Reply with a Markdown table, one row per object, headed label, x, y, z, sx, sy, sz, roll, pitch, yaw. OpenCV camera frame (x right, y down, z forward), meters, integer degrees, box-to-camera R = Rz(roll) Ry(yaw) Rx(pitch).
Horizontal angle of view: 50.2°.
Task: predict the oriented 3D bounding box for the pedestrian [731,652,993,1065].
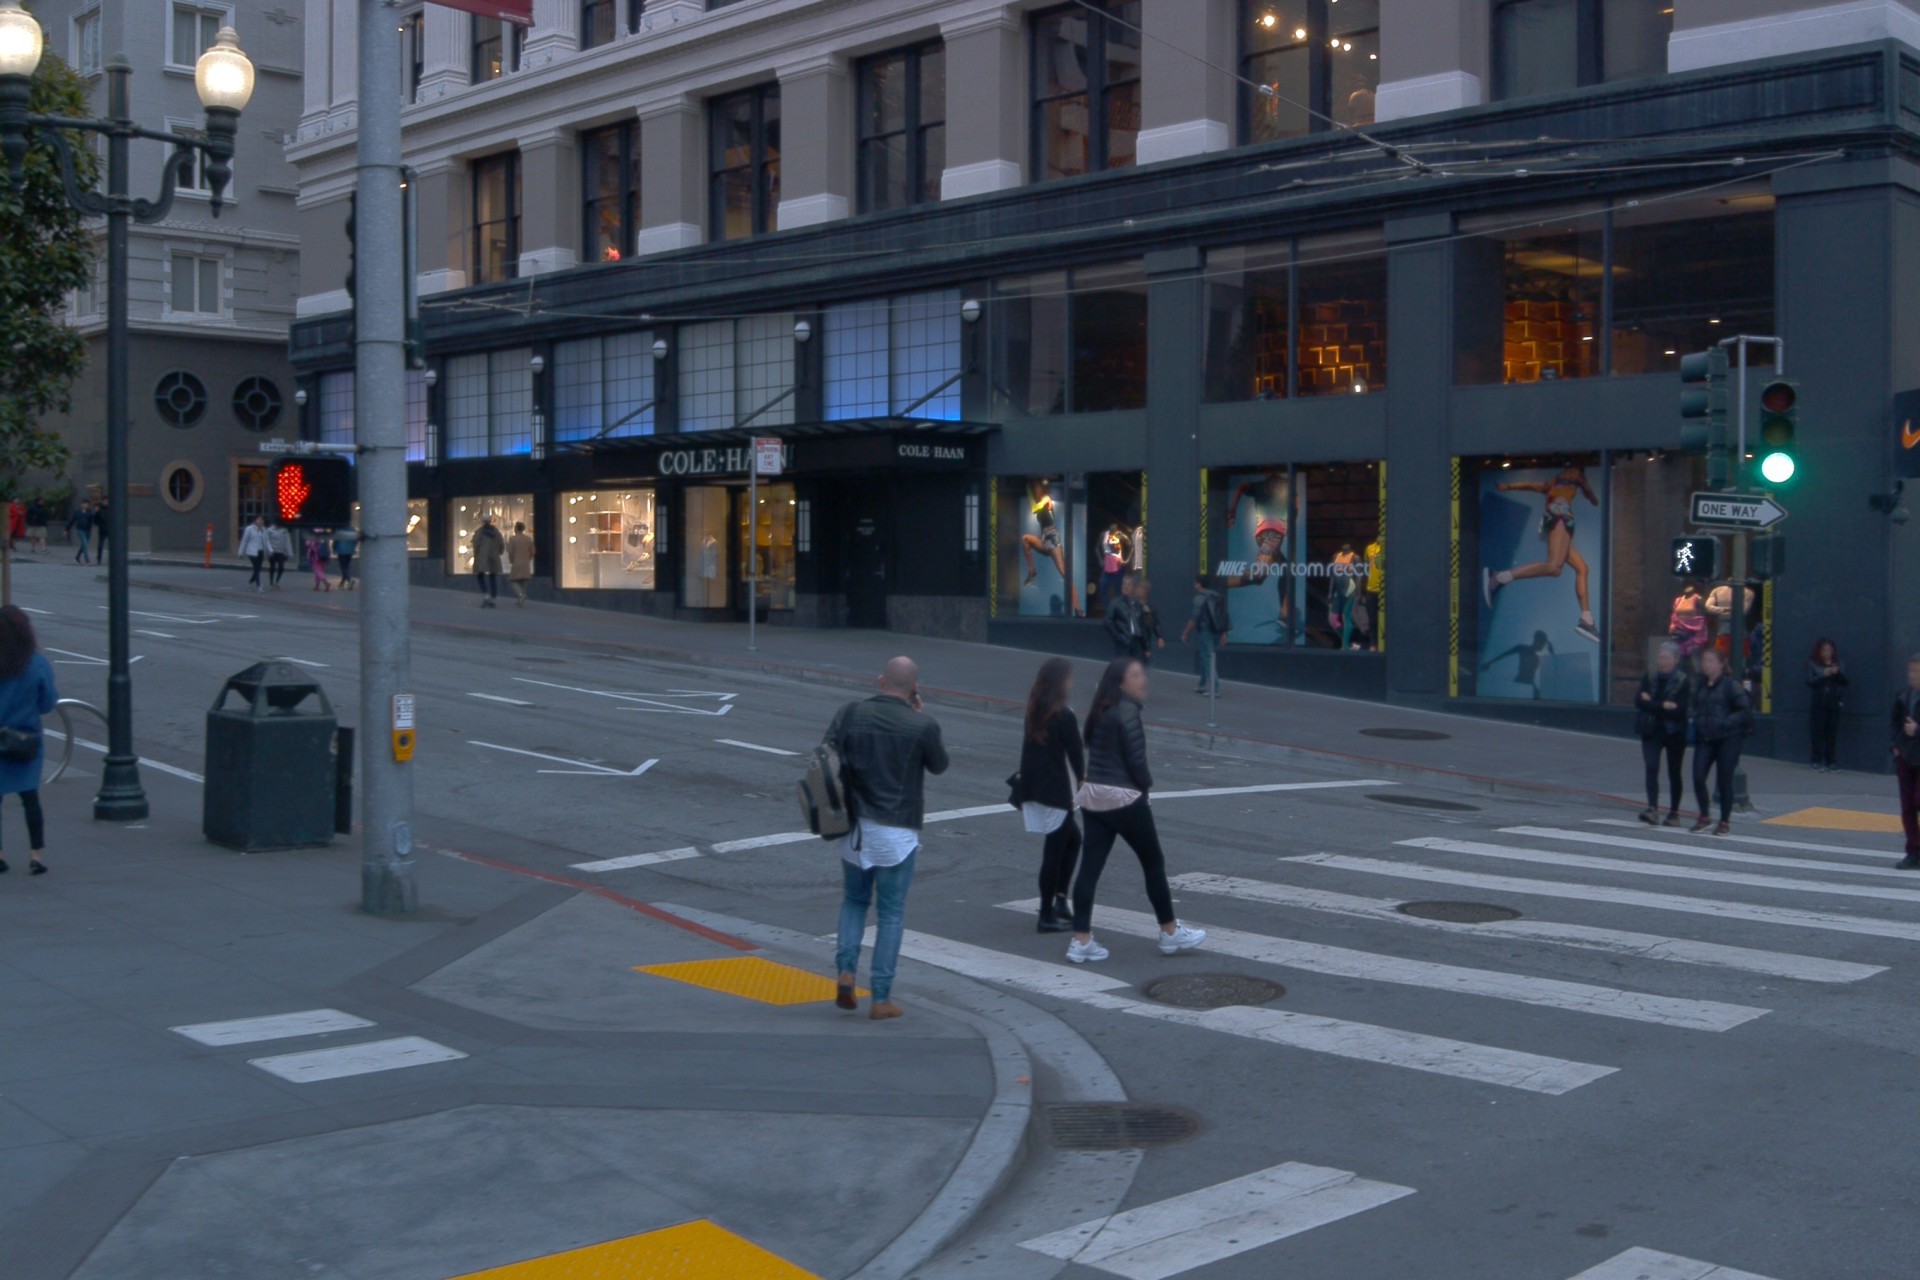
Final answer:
| label | x | y | z | sx | sy | sz | roll | pitch | yaw |
| --- | --- | --- | --- | --- | --- | --- | --- | --- | --- |
| pedestrian | -0.445 | 0.982 | 9.840 | 0.927 | 1.820 | 1.127 | 0 | 1 | 17 |

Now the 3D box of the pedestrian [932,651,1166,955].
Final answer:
| label | x | y | z | sx | sy | sz | roll | pitch | yaw |
| --- | --- | --- | --- | --- | --- | --- | --- | --- | --- |
| pedestrian | 0.534 | 0.938 | 12.423 | 1.003 | 1.710 | 0.997 | 0 | 1 | -37 |

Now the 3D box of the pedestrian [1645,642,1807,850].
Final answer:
| label | x | y | z | sx | sy | sz | roll | pitch | yaw |
| --- | --- | --- | --- | --- | --- | --- | --- | --- | --- |
| pedestrian | 6.649 | 0.882 | 17.784 | 0.952 | 1.710 | 1.073 | 1 | 1 | 44 |

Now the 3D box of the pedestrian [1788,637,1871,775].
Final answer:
| label | x | y | z | sx | sy | sz | roll | pitch | yaw |
| --- | --- | --- | --- | --- | --- | --- | --- | --- | --- |
| pedestrian | 9.681 | 0.723 | 22.825 | 0.639 | 1.500 | 0.686 | 0 | 1 | 3 |

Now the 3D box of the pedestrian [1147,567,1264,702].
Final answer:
| label | x | y | z | sx | sy | sz | roll | pitch | yaw |
| --- | --- | --- | --- | --- | --- | --- | --- | --- | --- |
| pedestrian | 3.289 | -0.081 | 27.458 | 1.078 | 1.750 | 1.121 | -1 | 1 | -44 |

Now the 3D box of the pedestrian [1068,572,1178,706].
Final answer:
| label | x | y | z | sx | sy | sz | roll | pitch | yaw |
| --- | --- | --- | --- | --- | --- | --- | --- | --- | --- |
| pedestrian | 2.066 | -0.026 | 25.973 | 1.047 | 1.650 | 0.891 | 1 | 1 | 43 |

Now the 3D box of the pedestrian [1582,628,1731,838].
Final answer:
| label | x | y | z | sx | sy | sz | roll | pitch | yaw |
| --- | --- | --- | --- | --- | --- | --- | --- | --- | --- |
| pedestrian | 6.242 | 0.797 | 18.347 | 0.895 | 1.800 | 1.089 | 1 | 1 | 42 |

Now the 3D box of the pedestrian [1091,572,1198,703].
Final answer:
| label | x | y | z | sx | sy | sz | roll | pitch | yaw |
| --- | --- | --- | --- | --- | --- | --- | --- | --- | --- |
| pedestrian | 2.395 | -0.044 | 26.613 | 1.047 | 1.650 | 0.891 | 1 | 1 | 43 |

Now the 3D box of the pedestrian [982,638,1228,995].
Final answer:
| label | x | y | z | sx | sy | sz | roll | pitch | yaw |
| --- | --- | --- | --- | --- | --- | --- | --- | --- | --- |
| pedestrian | 0.818 | 0.941 | 11.580 | 1.113 | 1.890 | 0.813 | 0 | 1 | -33 |
